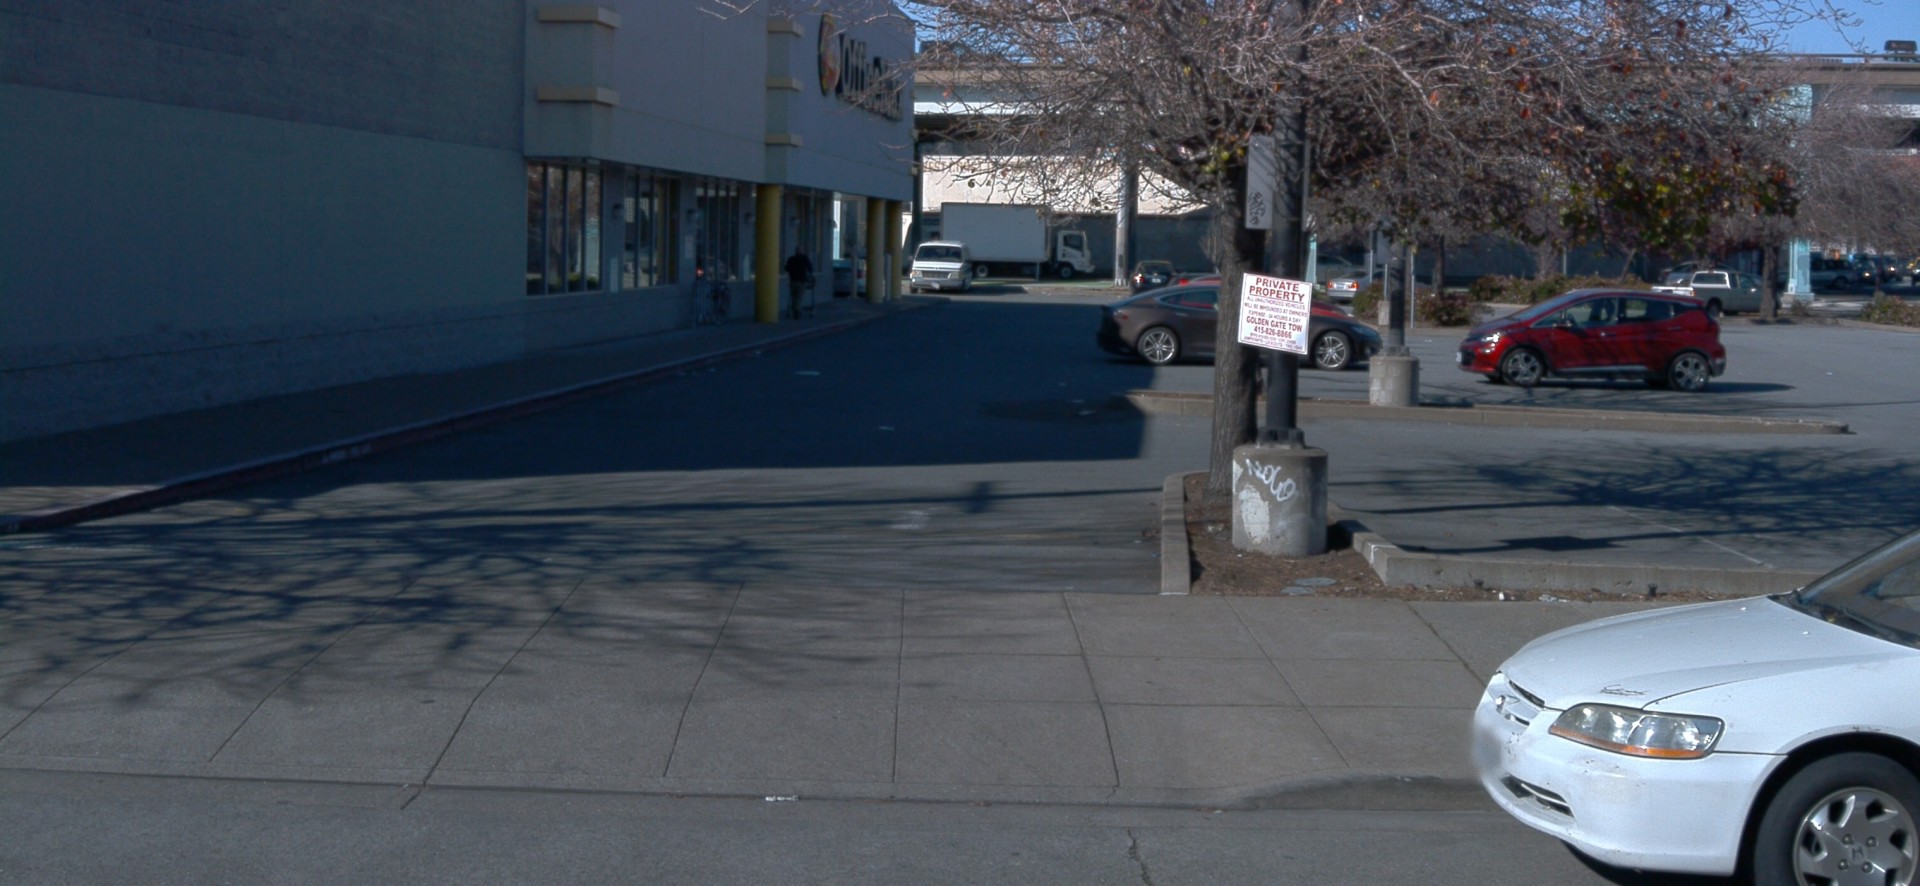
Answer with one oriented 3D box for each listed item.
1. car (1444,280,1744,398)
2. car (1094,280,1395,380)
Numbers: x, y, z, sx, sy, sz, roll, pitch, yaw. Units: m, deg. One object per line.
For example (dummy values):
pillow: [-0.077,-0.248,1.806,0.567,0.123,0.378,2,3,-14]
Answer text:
car: [10.026,-1.691,32.774,4.156,1.695,2.038,1,4,2]
car: [4.890,-2.002,35.894,5.044,1.525,1.995,1,4,5]
